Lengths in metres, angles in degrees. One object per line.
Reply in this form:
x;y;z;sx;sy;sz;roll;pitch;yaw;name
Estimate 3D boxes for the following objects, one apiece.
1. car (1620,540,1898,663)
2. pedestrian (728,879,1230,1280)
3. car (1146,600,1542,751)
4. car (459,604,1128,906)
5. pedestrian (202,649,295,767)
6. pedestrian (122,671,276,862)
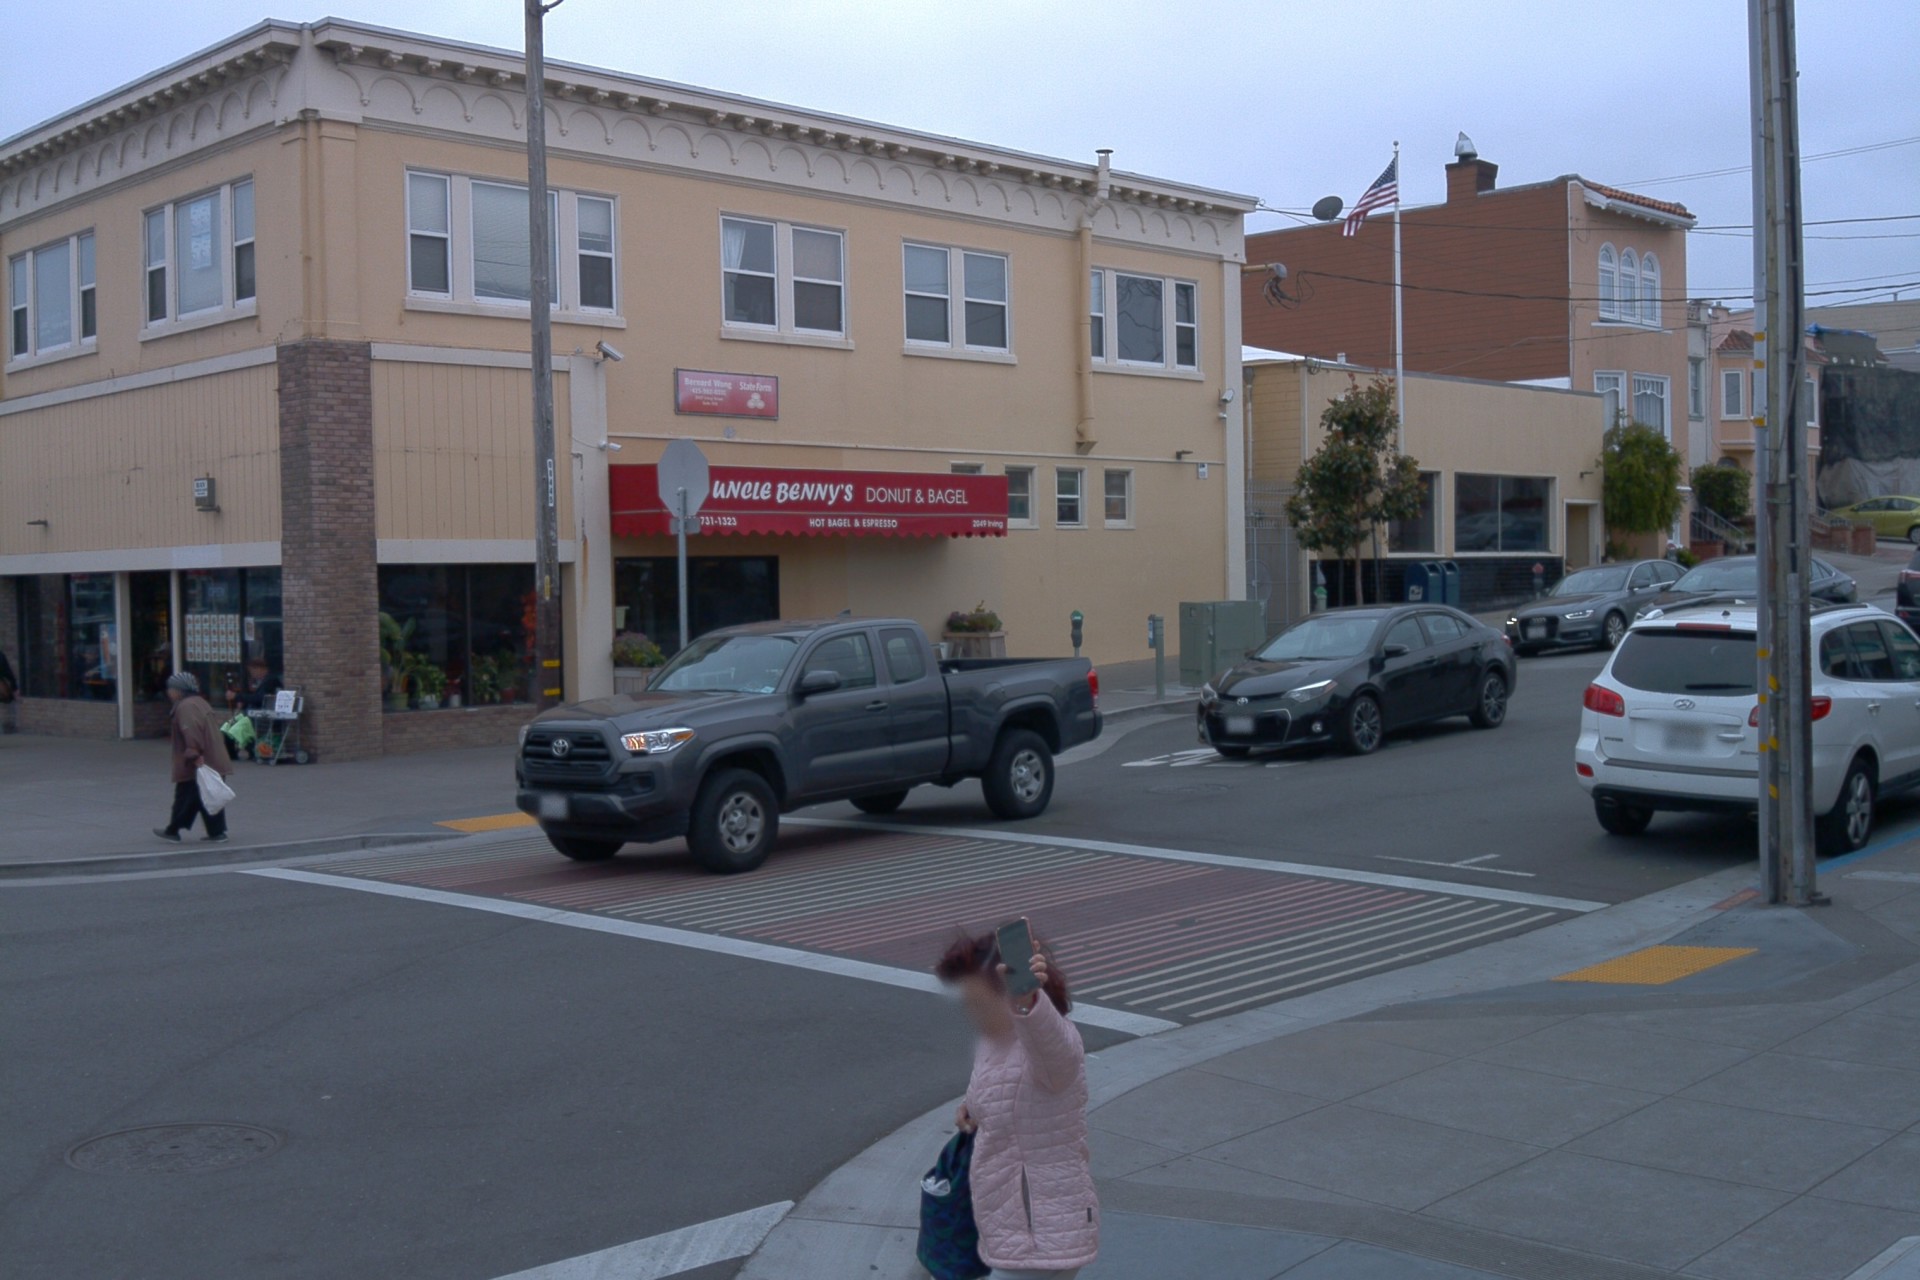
11.776;-0.543;30.274;2.082;1.644;4.864;1;1;44;car
0.009;1.345;4.624;0.848;1.479;0.913;0;1;-20;pedestrian
4.196;0.317;22.062;2.067;1.440;4.540;0;1;42;car
-1.103;0.740;16.490;2.075;2.008;5.437;0;1;41;car
-8.562;0.803;24.837;0.878;1.374;0.735;1;1;44;pedestrian
-6.187;1.008;16.855;0.830;1.477;1.069;0;1;3;pedestrian
